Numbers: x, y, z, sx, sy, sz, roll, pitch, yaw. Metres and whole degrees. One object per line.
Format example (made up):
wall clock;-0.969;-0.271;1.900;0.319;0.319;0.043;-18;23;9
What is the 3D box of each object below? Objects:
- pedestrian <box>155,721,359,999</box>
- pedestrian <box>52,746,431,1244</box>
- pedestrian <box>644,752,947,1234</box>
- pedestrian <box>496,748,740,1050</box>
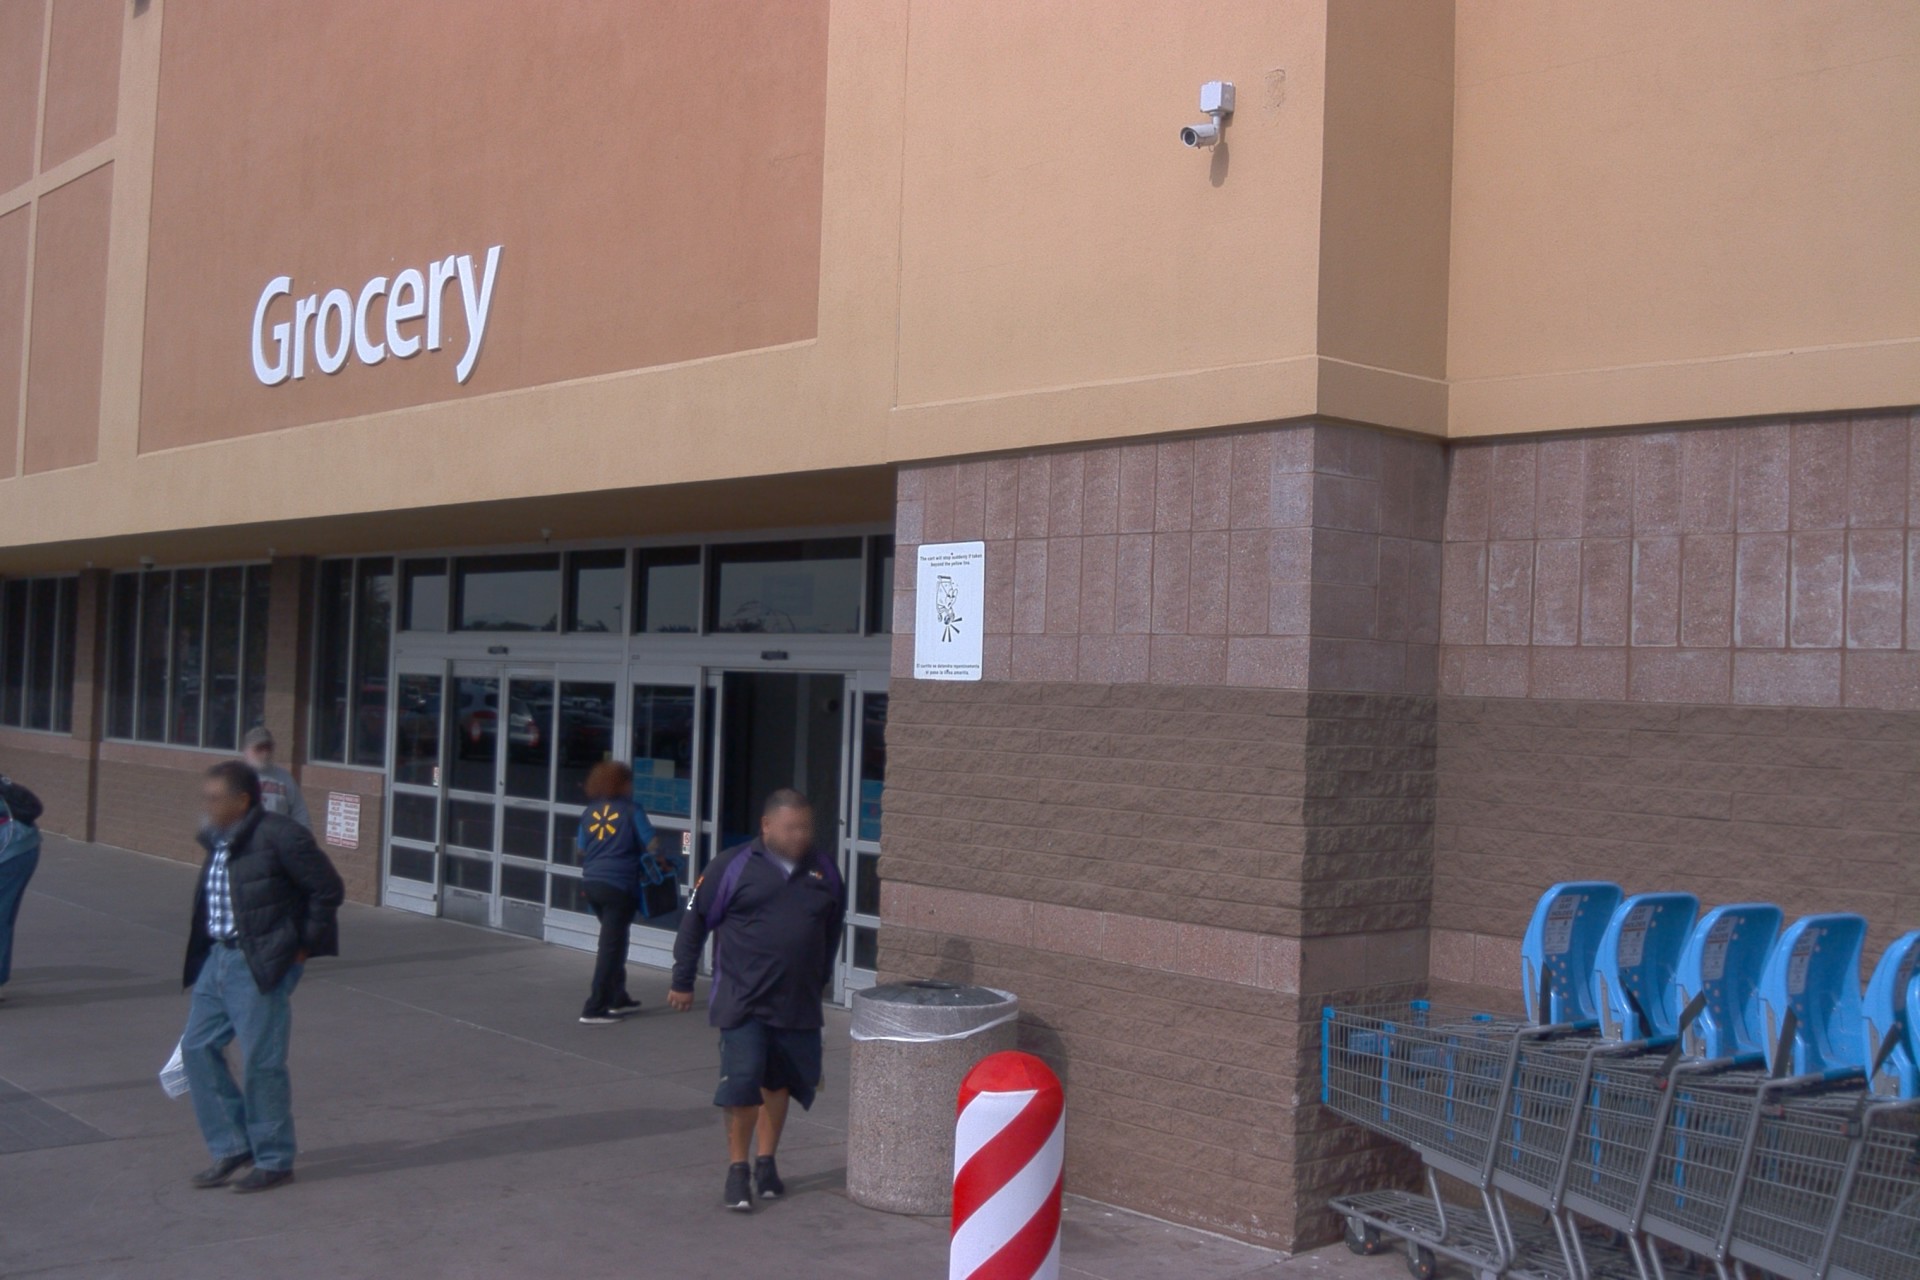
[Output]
pedestrian;-4.675;1.417;13.835;1.000;1.710;1.000;1;0;-37
pedestrian;-2.854;1.335;8.313;1.000;1.760;1.000;1;0;32
pedestrian;-0.688;1.334;8.315;1.009;1.720;1.094;1;0;-14
pedestrian;-2.036;1.490;12.405;1.000;1.630;1.000;1;0;41
